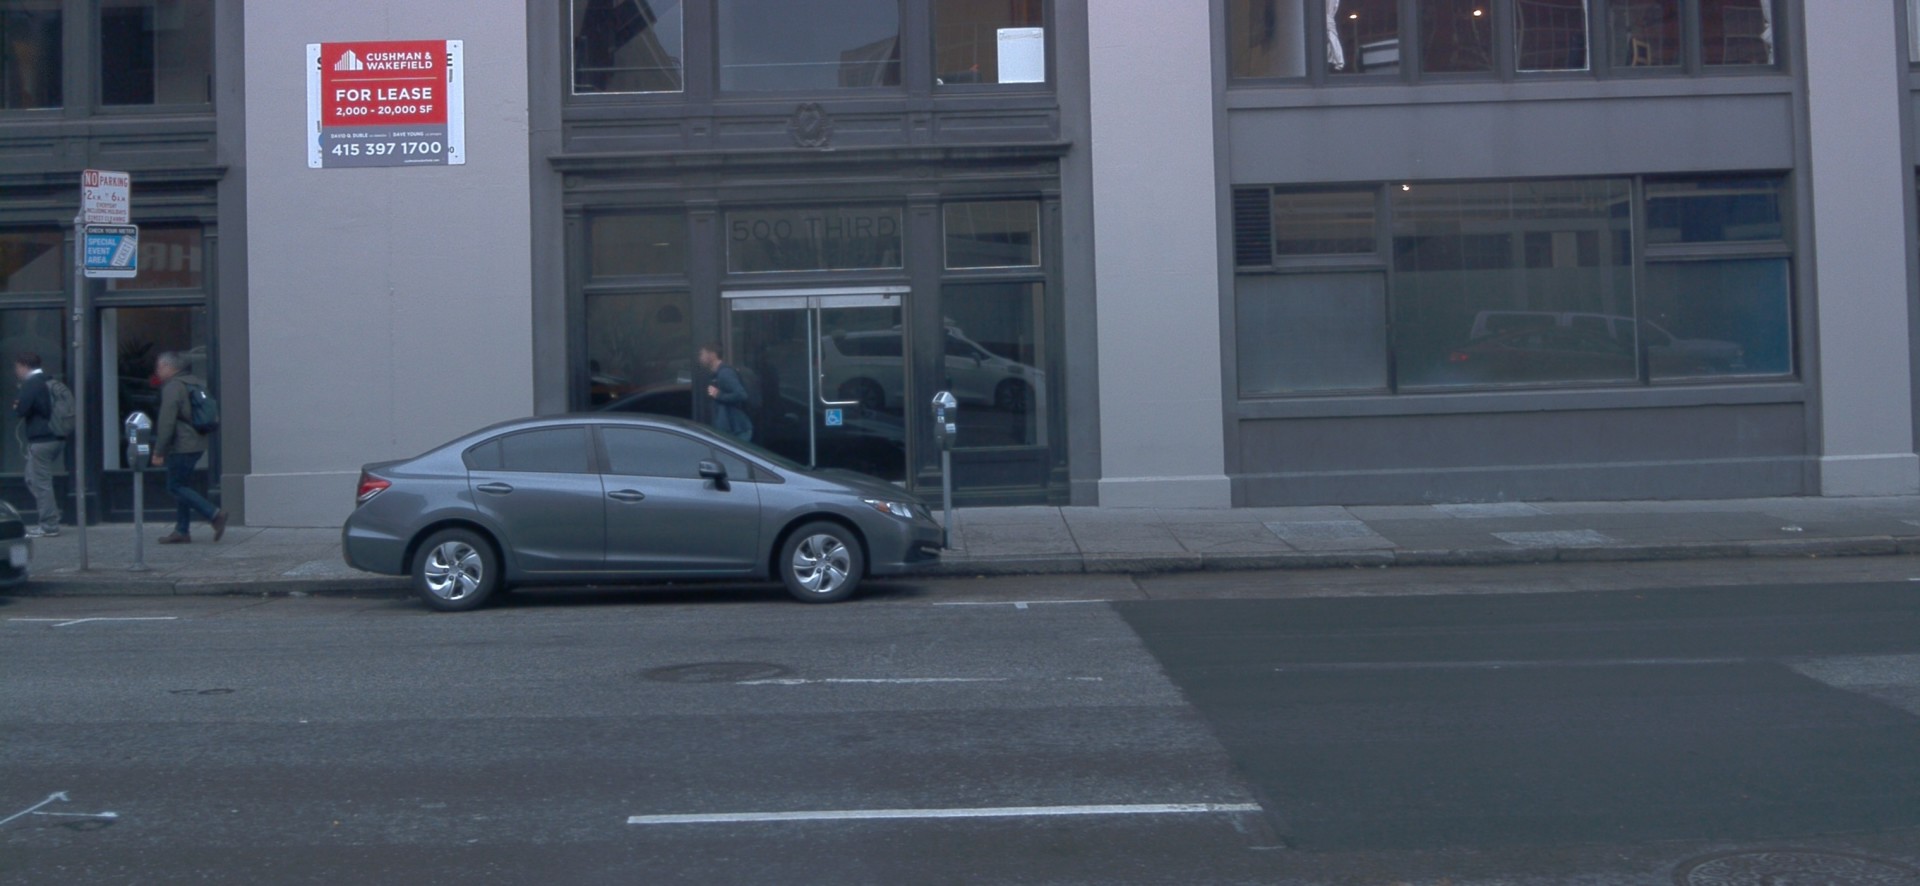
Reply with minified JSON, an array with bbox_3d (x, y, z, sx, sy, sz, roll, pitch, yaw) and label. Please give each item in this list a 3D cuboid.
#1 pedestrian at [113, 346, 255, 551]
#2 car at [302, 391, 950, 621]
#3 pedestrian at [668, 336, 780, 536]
[{"bbox_3d":[-7.150,0.026,19.152,1.010,1.800,0.863,0,1,-4],"label":"pedestrian"},{"bbox_3d":[-2.413,0.421,15.886,4.616,1.477,2.026,0,4,-2],"label":"car"},{"bbox_3d":[-2.181,-0.086,19.261,0.948,1.770,0.839,0,1,0],"label":"pedestrian"}]
